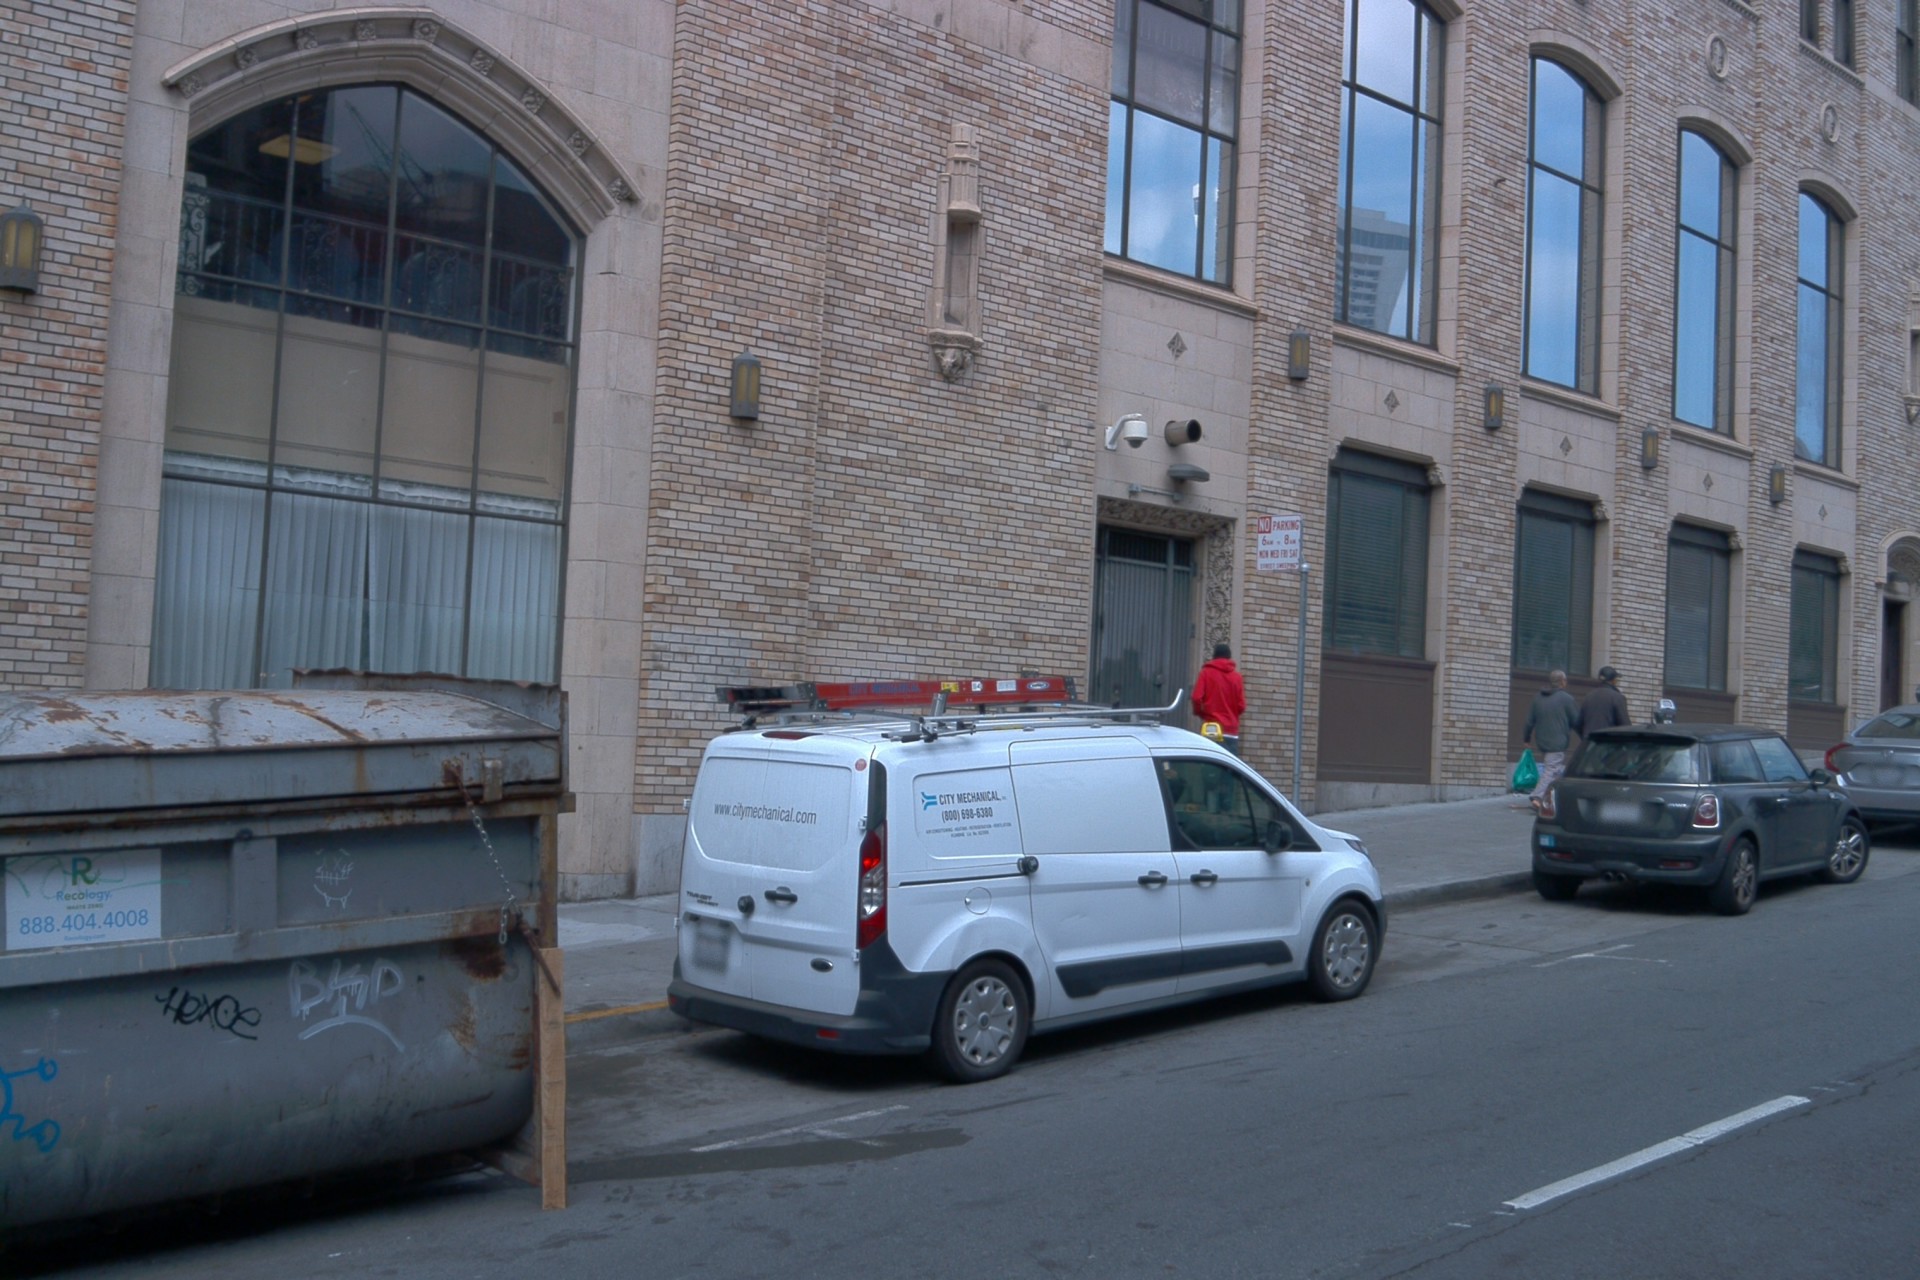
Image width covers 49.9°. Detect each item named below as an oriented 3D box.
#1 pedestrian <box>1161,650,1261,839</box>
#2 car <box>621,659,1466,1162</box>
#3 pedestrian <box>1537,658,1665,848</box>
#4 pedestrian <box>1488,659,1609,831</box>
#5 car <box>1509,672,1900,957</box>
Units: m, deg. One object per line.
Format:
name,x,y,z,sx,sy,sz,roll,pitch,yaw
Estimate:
pedestrian,2.466,1.011,20.317,0.786,1.800,0.728,0,1,-12
car,0.682,1.249,11.781,4.889,2.170,2.003,-1,1,-44
pedestrian,6.397,1.097,20.607,0.870,1.810,0.897,-1,1,-41
pedestrian,6.367,1.107,22.325,0.923,1.780,0.899,-1,1,-42
car,6.269,1.317,17.168,1.729,1.980,3.770,1,1,43
